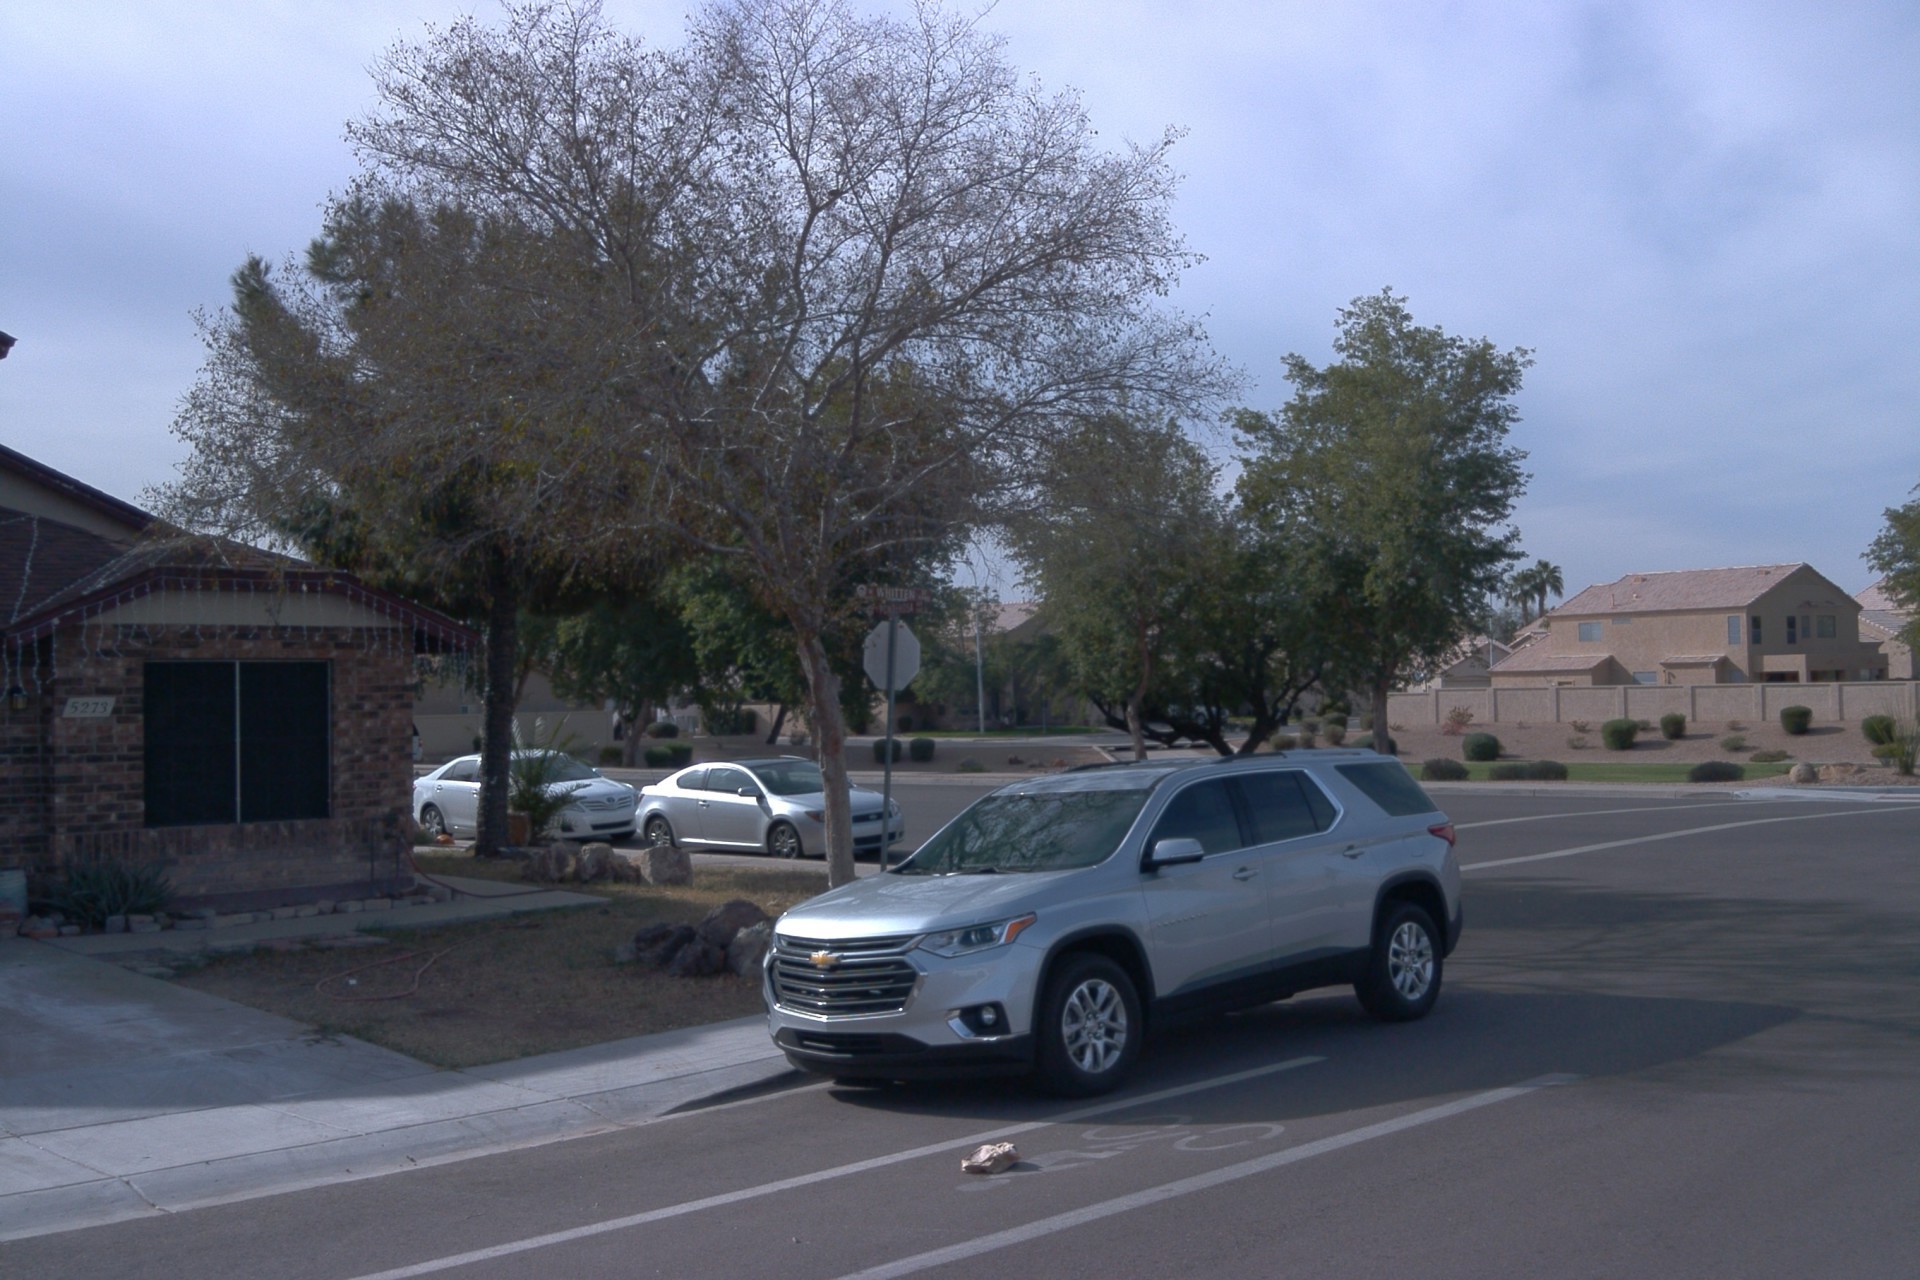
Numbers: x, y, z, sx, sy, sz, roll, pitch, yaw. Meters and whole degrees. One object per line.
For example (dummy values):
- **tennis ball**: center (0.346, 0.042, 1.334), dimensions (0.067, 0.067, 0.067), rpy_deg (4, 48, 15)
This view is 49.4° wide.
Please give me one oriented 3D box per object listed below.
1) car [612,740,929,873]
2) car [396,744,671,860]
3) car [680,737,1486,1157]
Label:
- **car**: center (-2.727, 2.271, 29.423), dimensions (4.427, 1.550, 2.068), rpy_deg (0, -1, 44)
- **car**: center (-6.929, 2.544, 33.623), dimensions (2.132, 1.530, 4.672), rpy_deg (1, -1, -45)
- **car**: center (0.977, 1.642, 12.957), dimensions (2.247, 1.890, 5.093), rpy_deg (0, -1, 43)
